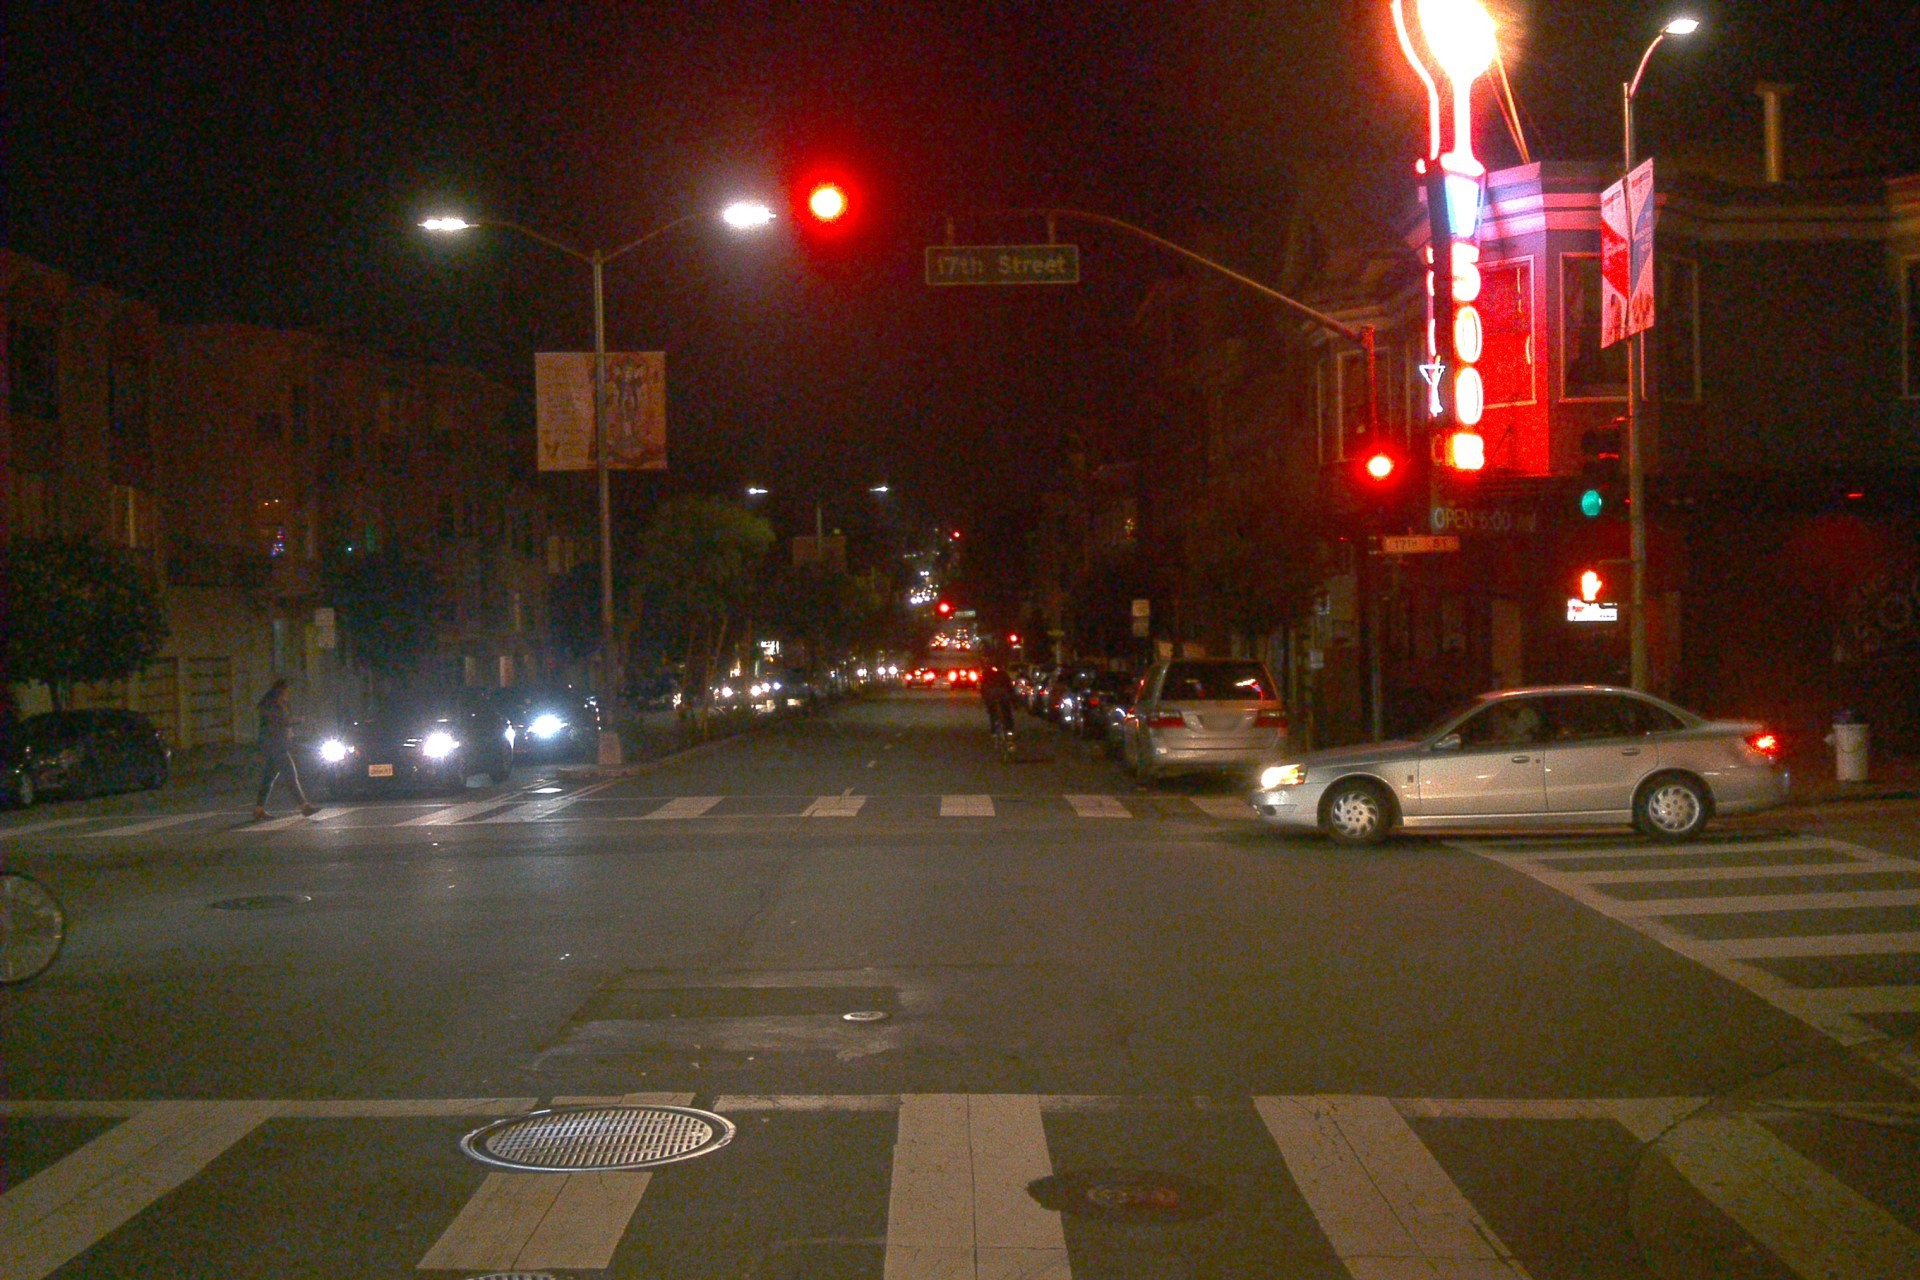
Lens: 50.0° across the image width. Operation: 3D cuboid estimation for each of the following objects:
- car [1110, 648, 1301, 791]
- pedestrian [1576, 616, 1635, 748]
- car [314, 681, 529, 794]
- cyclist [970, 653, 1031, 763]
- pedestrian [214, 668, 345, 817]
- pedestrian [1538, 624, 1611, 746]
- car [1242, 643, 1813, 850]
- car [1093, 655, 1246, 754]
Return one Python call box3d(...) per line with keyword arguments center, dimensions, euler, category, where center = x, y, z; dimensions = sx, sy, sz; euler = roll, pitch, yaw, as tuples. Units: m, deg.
box3d(center=(3.288, 1.021, 28.469), dimensions=(2.087, 1.770, 4.655), euler=(1, 0, 0), category="car")
box3d(center=(9.050, 0.576, 28.828), dimensions=(0.739, 1.820, 0.628), euler=(1, 0, 20), category="pedestrian")
box3d(center=(-7.621, 1.333, 29.538), dimensions=(1.903, 1.390, 4.511), euler=(1, 0, 0), category="car")
box3d(center=(0.684, 1.105, 34.216), dimensions=(0.823, 1.760, 1.915), euler=(1, 0, 7), category="cyclist")
box3d(center=(-7.988, 1.190, 24.179), dimensions=(1.189, 1.690, 0.924), euler=(1, 0, 4), category="pedestrian")
box3d(center=(8.813, 0.643, 29.498), dimensions=(0.721, 1.720, 0.691), euler=(1, 0, -18), category="pedestrian")
box3d(center=(5.089, 0.916, 19.055), dimensions=(4.826, 1.720, 2.135), euler=(1, 0, 10), category="car")
box3d(center=(3.322, 0.995, 33.307), dimensions=(1.810, 1.470, 4.216), euler=(1, 0, -3), category="car")
